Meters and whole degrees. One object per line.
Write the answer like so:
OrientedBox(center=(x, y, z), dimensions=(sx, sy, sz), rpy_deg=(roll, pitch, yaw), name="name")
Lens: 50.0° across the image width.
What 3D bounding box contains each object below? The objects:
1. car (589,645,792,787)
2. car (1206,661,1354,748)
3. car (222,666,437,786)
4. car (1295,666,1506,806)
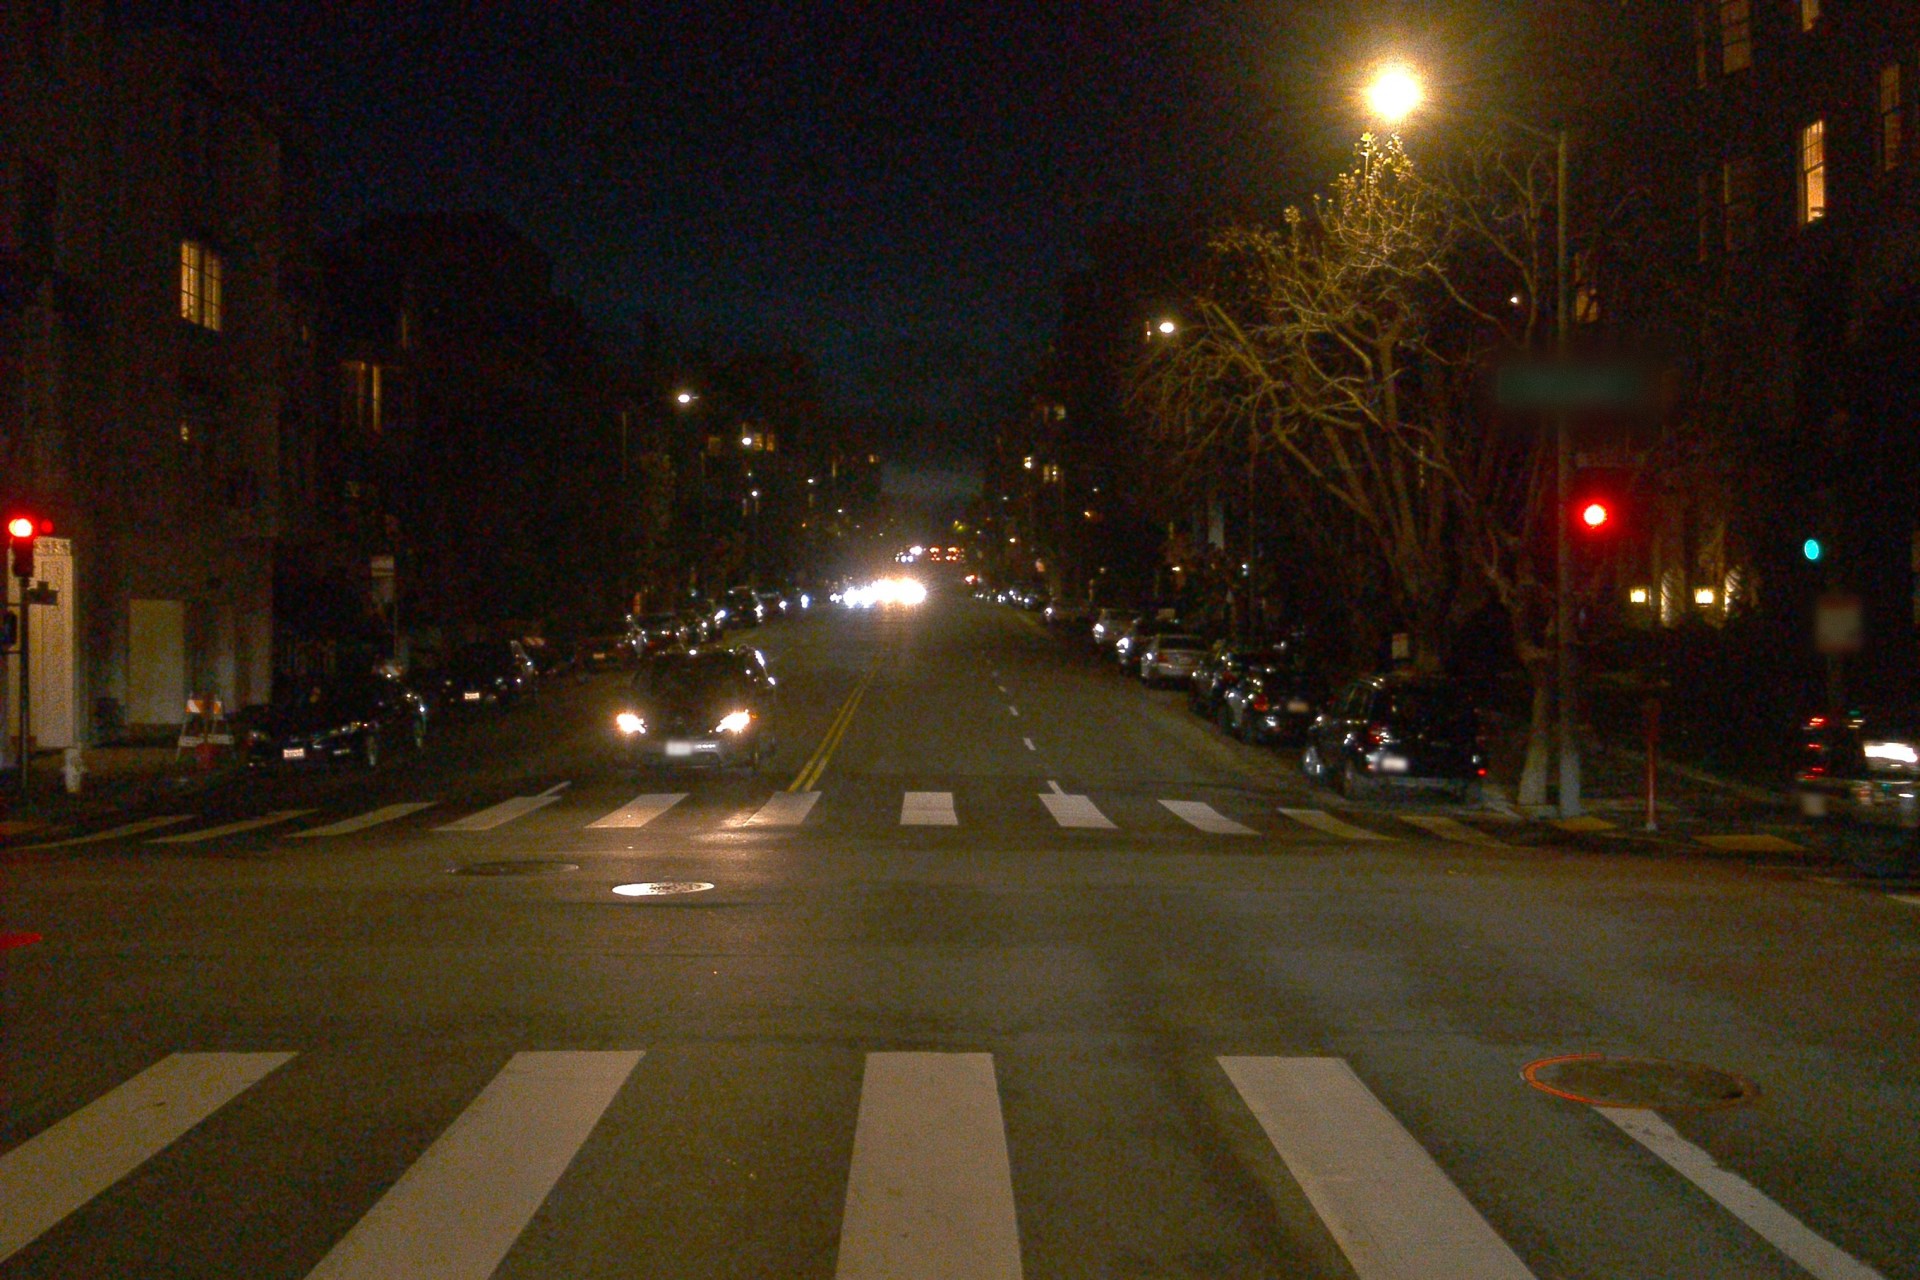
OrientedBox(center=(-3.802, 1.026, 29.972), dimensions=(2.293, 1.803, 4.677), rpy_deg=(1, 0, 0), name="car")
OrientedBox(center=(5.817, 1.152, 37.883), dimensions=(1.802, 1.404, 4.078), rpy_deg=(1, 0, -4), name="car")
OrientedBox(center=(-10.051, 1.318, 33.211), dimensions=(2.045, 1.673, 4.519), rpy_deg=(1, 0, 0), name="car")
OrientedBox(center=(6.082, 1.277, 28.894), dimensions=(1.802, 1.714, 4.078), rpy_deg=(1, 0, -4), name="car")
